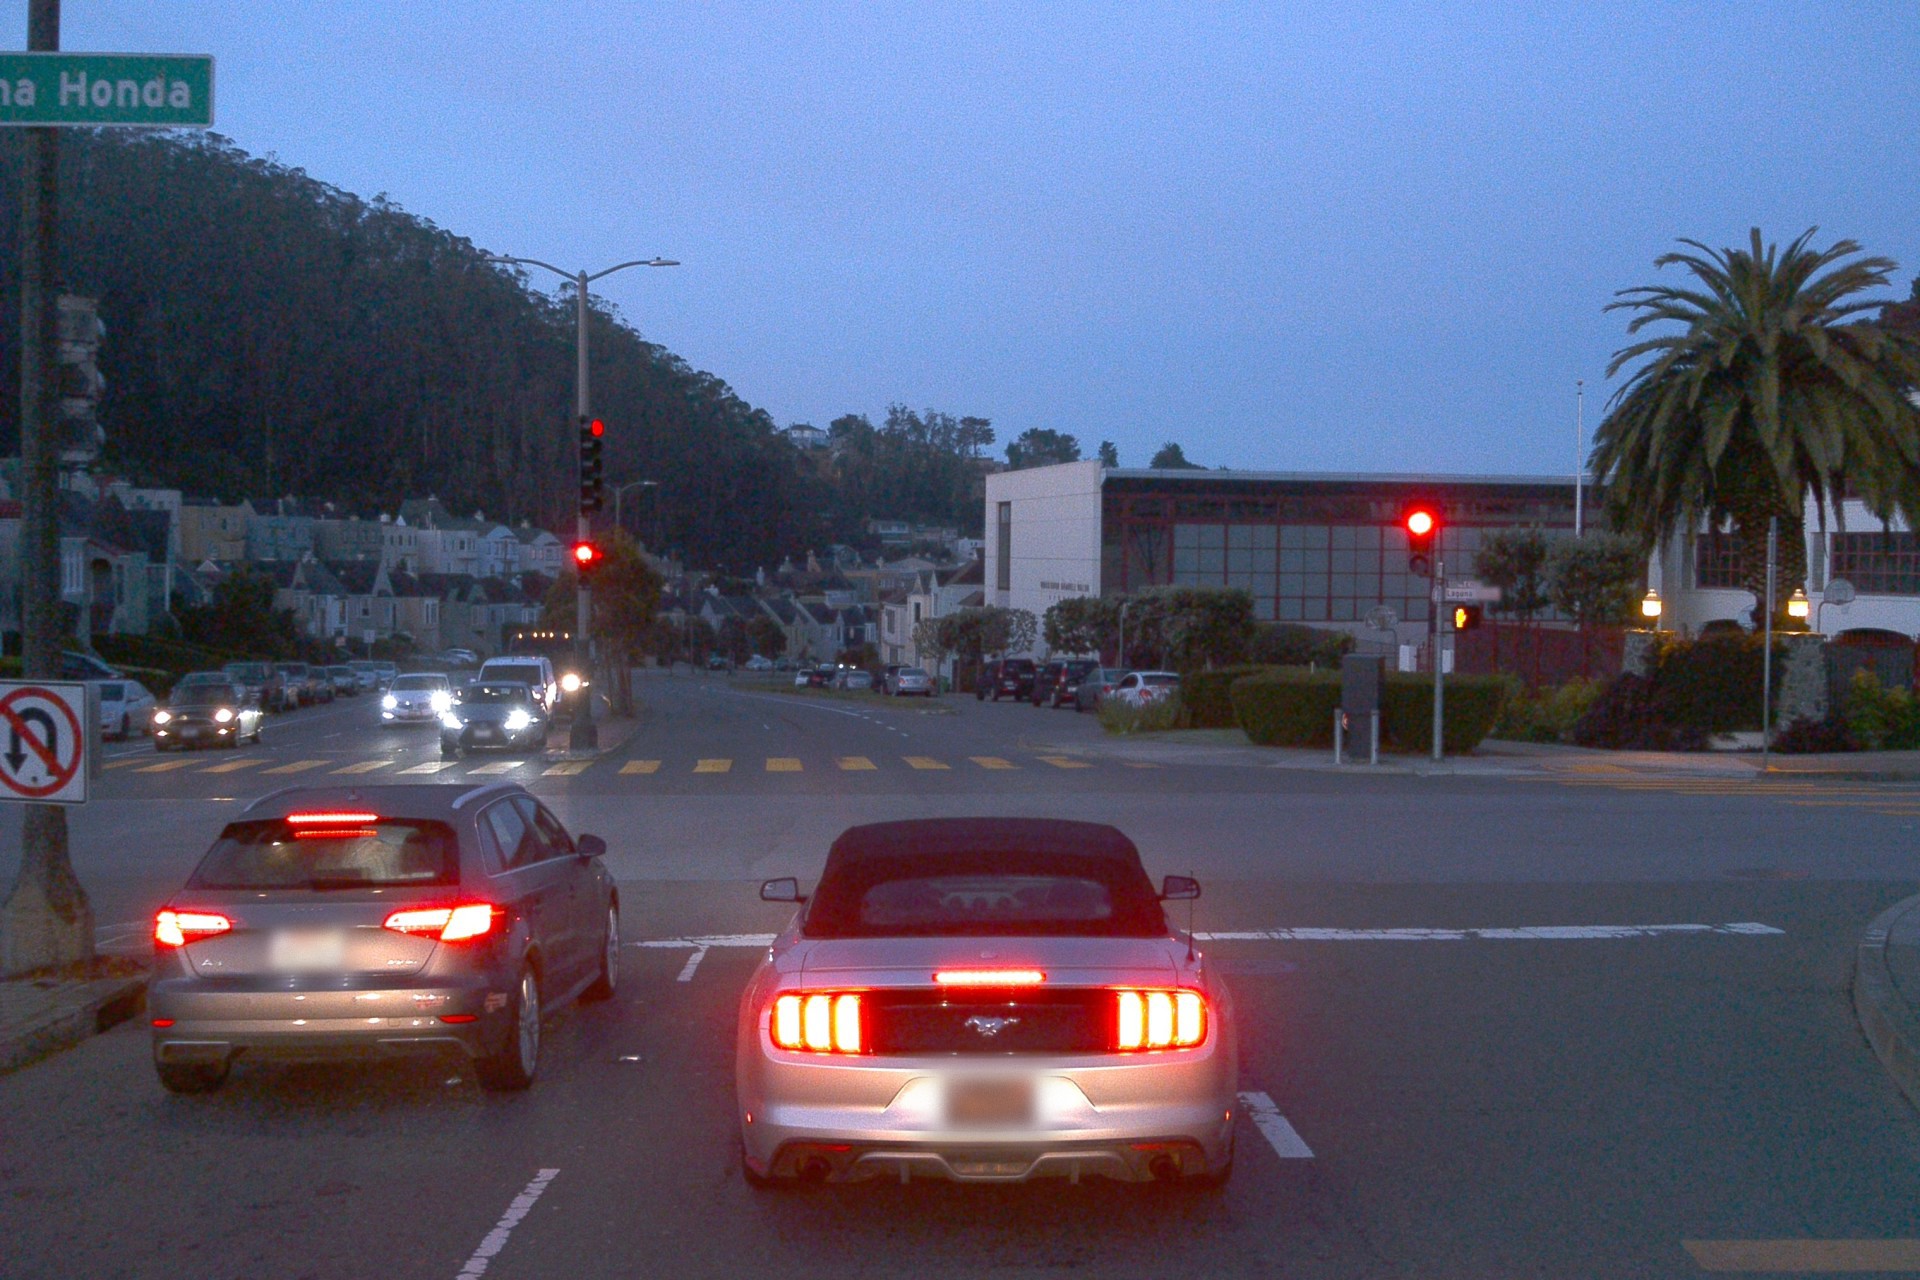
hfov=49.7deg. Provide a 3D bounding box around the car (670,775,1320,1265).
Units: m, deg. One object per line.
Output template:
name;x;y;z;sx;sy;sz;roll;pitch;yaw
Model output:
car;0.099;1.413;9.110;2.174;1.380;4.355;0;0;0

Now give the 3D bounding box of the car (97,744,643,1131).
car;-2.886;1.404;11.058;1.782;1.510;3.987;0;0;0
